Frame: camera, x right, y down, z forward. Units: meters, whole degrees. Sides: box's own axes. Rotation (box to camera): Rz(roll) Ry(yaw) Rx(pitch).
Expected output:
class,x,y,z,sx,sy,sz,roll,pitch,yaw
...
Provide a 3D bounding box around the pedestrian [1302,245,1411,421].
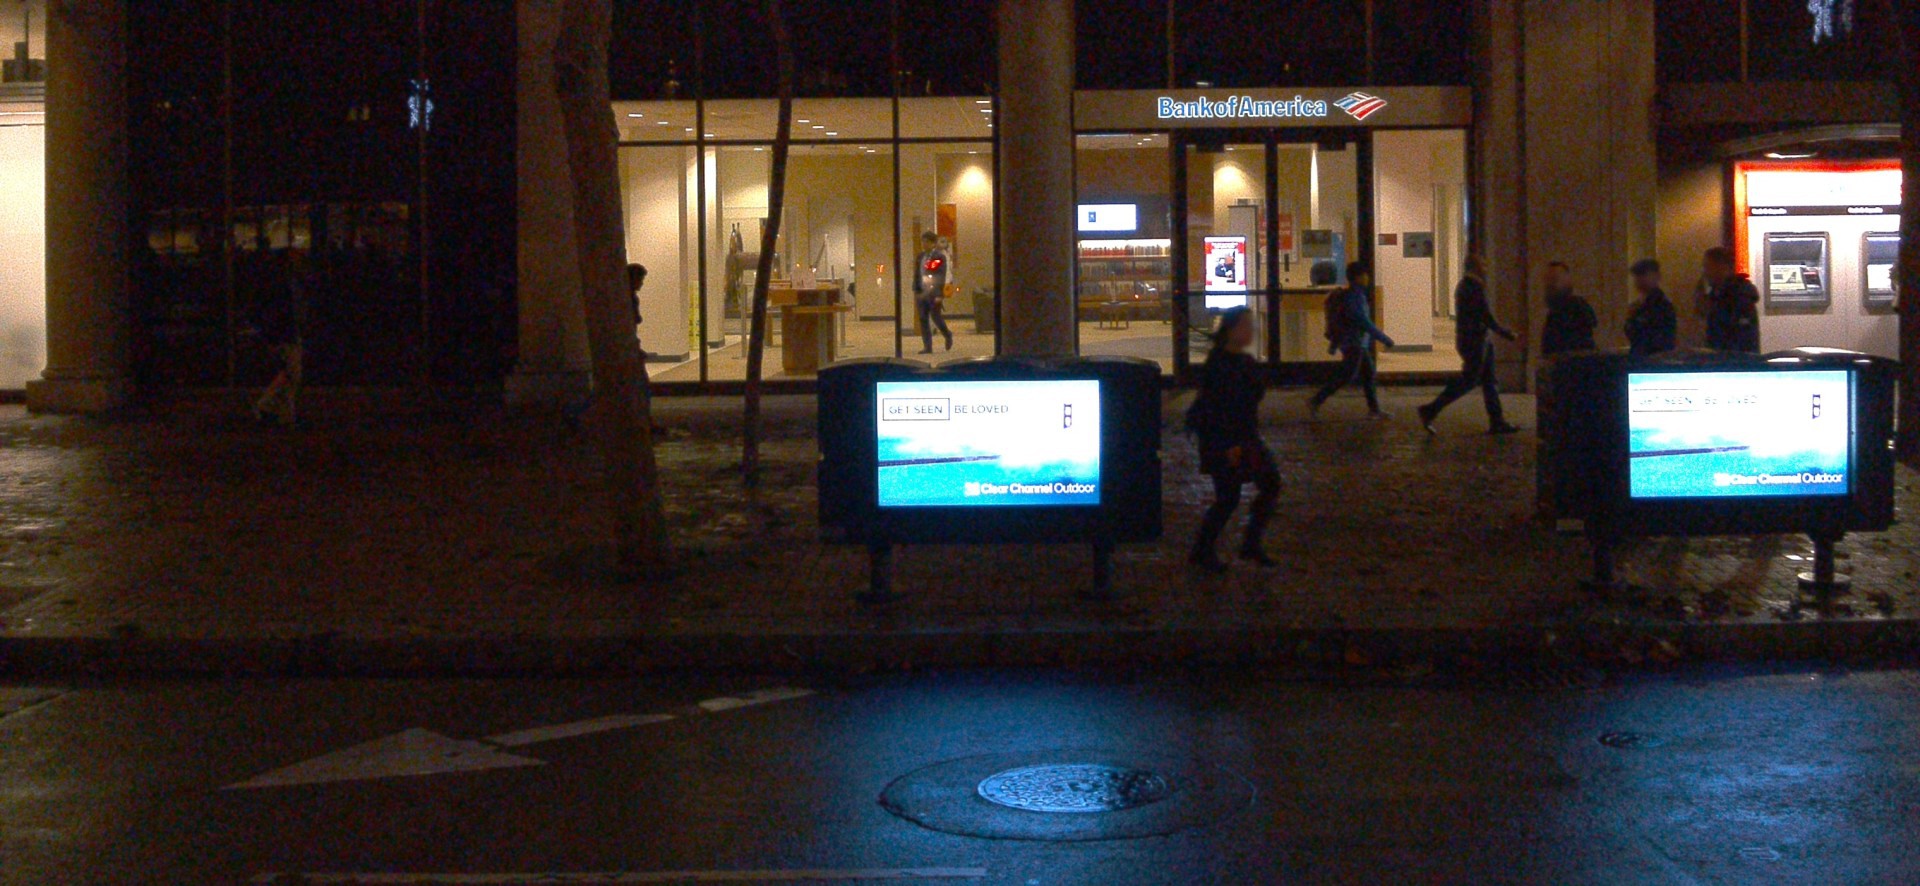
class,x,y,z,sx,sy,sz,roll,pitch,yaw
pedestrian,3.751,-1.057,19.388,0.889,1.596,0.771,-1,3,0

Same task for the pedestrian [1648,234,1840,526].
class,x,y,z,sx,sy,sz,roll,pitch,yaw
pedestrian,5.276,-0.454,13.821,1.014,1.885,0.791,-1,2,0

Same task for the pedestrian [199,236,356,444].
class,x,y,z,sx,sy,sz,roll,pitch,yaw
pedestrian,-6.455,-1.003,19.406,1.051,1.885,1.024,-1,3,3

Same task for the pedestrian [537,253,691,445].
class,x,y,z,sx,sy,sz,roll,pitch,yaw
pedestrian,-3.227,-0.901,19.171,1.126,1.715,0.915,0,3,11

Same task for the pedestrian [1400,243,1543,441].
class,x,y,z,sx,sy,sz,roll,pitch,yaw
pedestrian,4.560,-0.928,18.298,1.060,1.685,0.936,-1,3,0

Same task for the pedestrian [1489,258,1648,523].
class,x,y,z,sx,sy,sz,roll,pitch,yaw
pedestrian,4.280,-0.395,14.422,1.037,1.785,0.703,0,2,15

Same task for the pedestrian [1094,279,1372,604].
class,x,y,z,sx,sy,sz,roll,pitch,yaw
pedestrian,1.641,-0.074,12.241,1.207,1.745,1.163,2,4,38

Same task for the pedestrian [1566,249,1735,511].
class,x,y,z,sx,sy,sz,roll,pitch,yaw
pedestrian,4.873,-0.486,14.521,1.054,1.735,1.182,0,3,14

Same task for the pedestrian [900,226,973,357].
class,x,y,z,sx,sy,sz,roll,pitch,yaw
pedestrian,-0.333,-2.146,28.781,0.693,1.795,0.836,0,3,26
